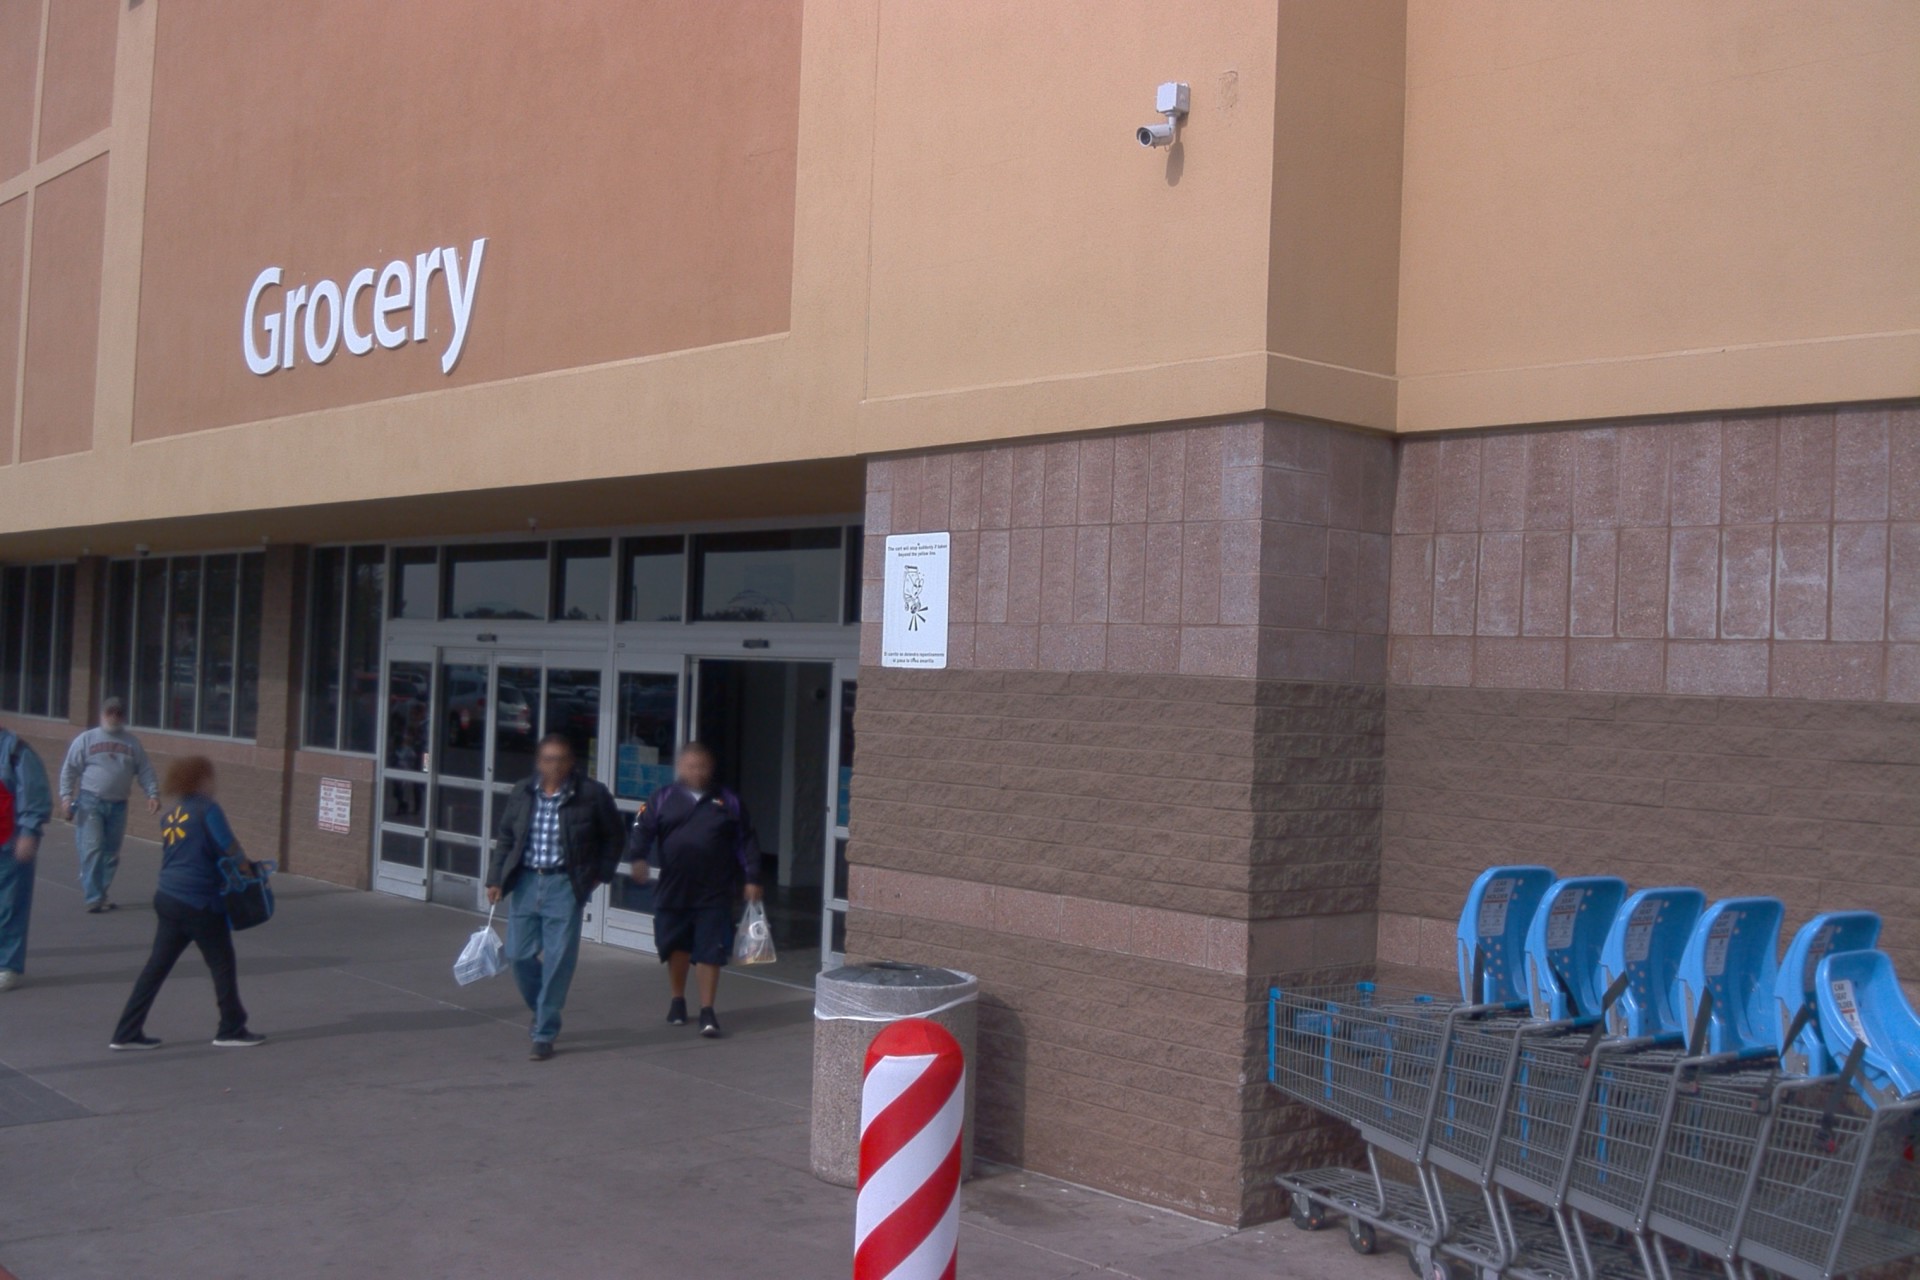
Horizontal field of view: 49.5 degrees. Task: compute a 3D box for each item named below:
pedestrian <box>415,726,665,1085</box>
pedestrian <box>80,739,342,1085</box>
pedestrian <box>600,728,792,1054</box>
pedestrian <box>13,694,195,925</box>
[{"bbox_3d":[-2.204,1.361,11.061,1.000,1.760,1.000,1,0,8],"label":"pedestrian"},{"bbox_3d":[-3.899,1.356,10.827,1.000,1.630,1.000,1,0,-37],"label":"pedestrian"},{"bbox_3d":[-1.490,1.386,11.851,1.009,1.720,1.094,1,0,-6],"label":"pedestrian"},{"bbox_3d":[-6.707,1.287,16.318,1.000,1.710,1.000,1,0,-44],"label":"pedestrian"}]
